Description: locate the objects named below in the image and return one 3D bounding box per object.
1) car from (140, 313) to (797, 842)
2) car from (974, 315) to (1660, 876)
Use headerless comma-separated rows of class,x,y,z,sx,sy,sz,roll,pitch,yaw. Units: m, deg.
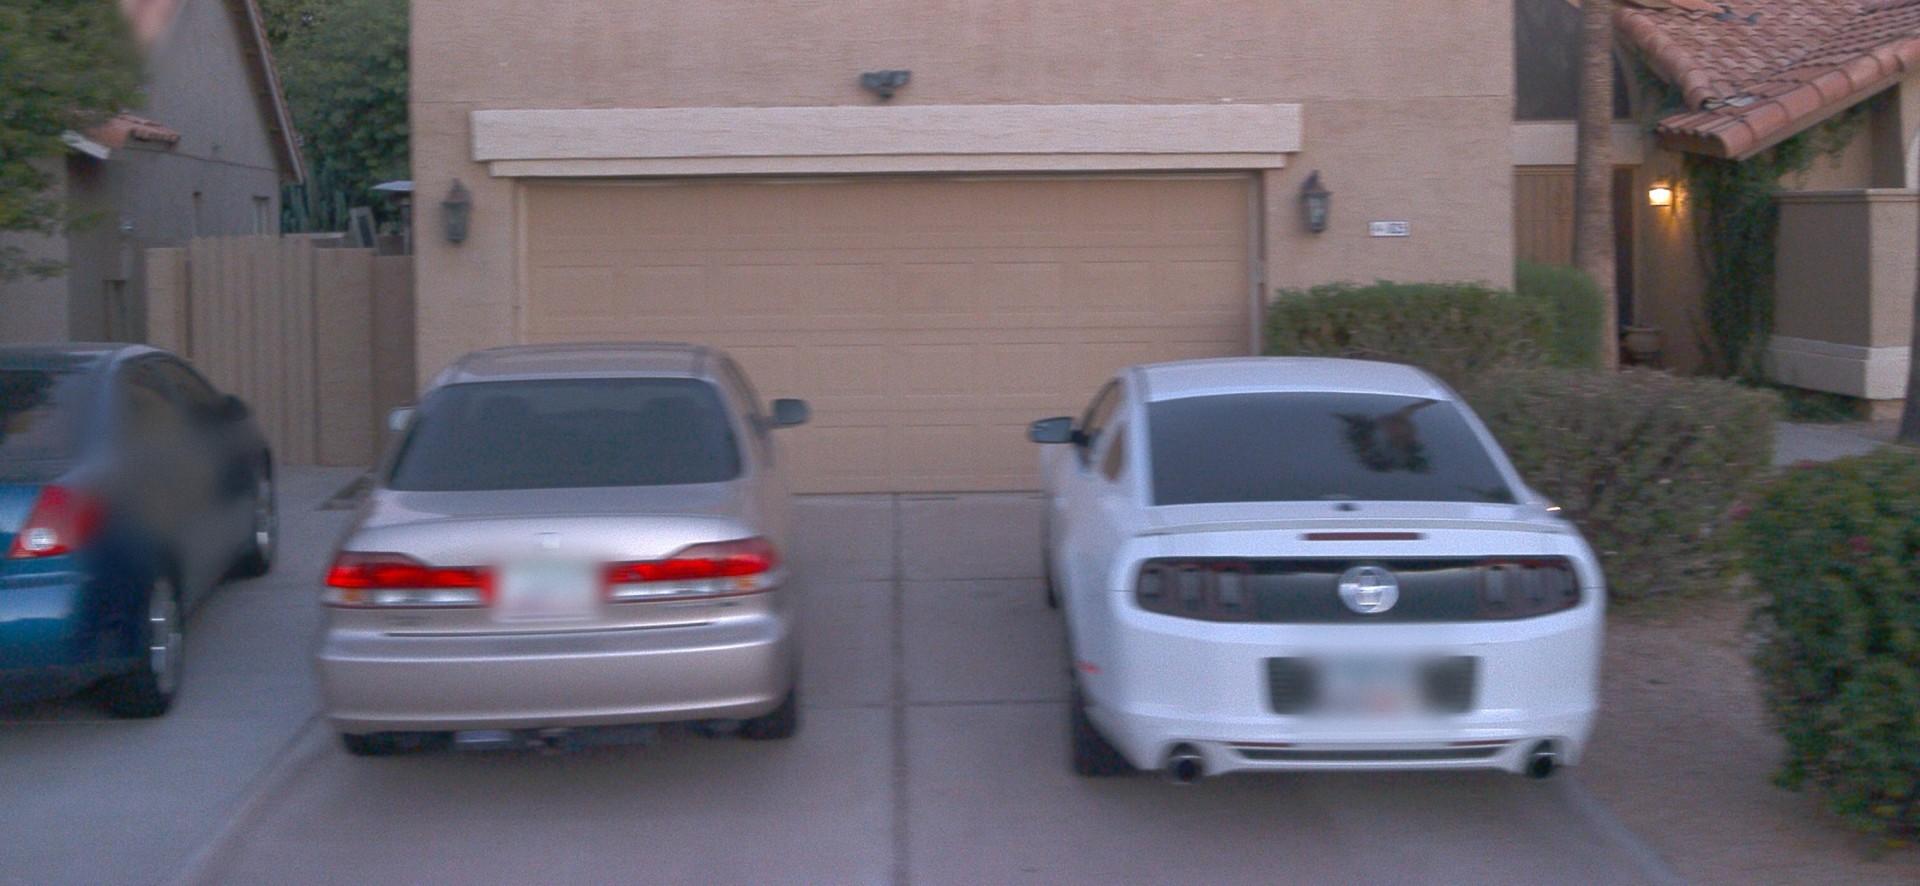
car,-1.842,0.267,9.145,2.069,1.494,4.922,-1,5,-6
car,1.116,0.316,8.669,2.066,1.514,4.794,0,5,1
